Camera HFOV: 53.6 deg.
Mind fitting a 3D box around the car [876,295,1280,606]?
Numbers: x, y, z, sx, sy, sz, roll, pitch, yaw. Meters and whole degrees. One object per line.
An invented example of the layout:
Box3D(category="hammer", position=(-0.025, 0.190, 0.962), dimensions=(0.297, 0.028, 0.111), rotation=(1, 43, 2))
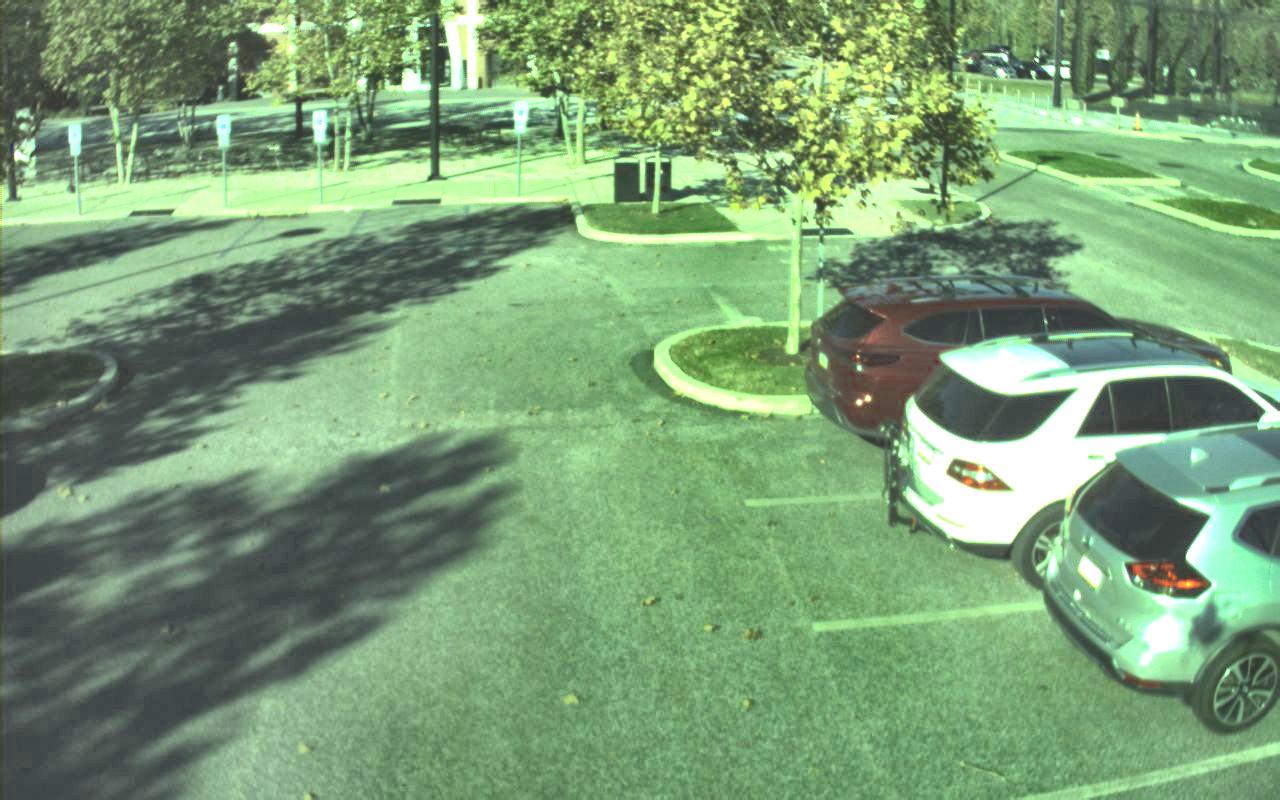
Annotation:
Box3D(category="car", position=(4.507, 0.272, 10.237), dimensions=(4.593, 1.787, 2.016), rotation=(-4, 16, -9))

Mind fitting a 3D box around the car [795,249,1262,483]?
Box3D(category="car", position=(4.176, -0.492, 12.976), dimensions=(4.756, 1.785, 2.031), rotation=(-3, 16, -8))

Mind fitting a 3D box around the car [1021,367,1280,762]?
Box3D(category="car", position=(5.037, 0.992, 7.768), dimensions=(4.395, 1.721, 1.954), rotation=(-3, 16, -7))
